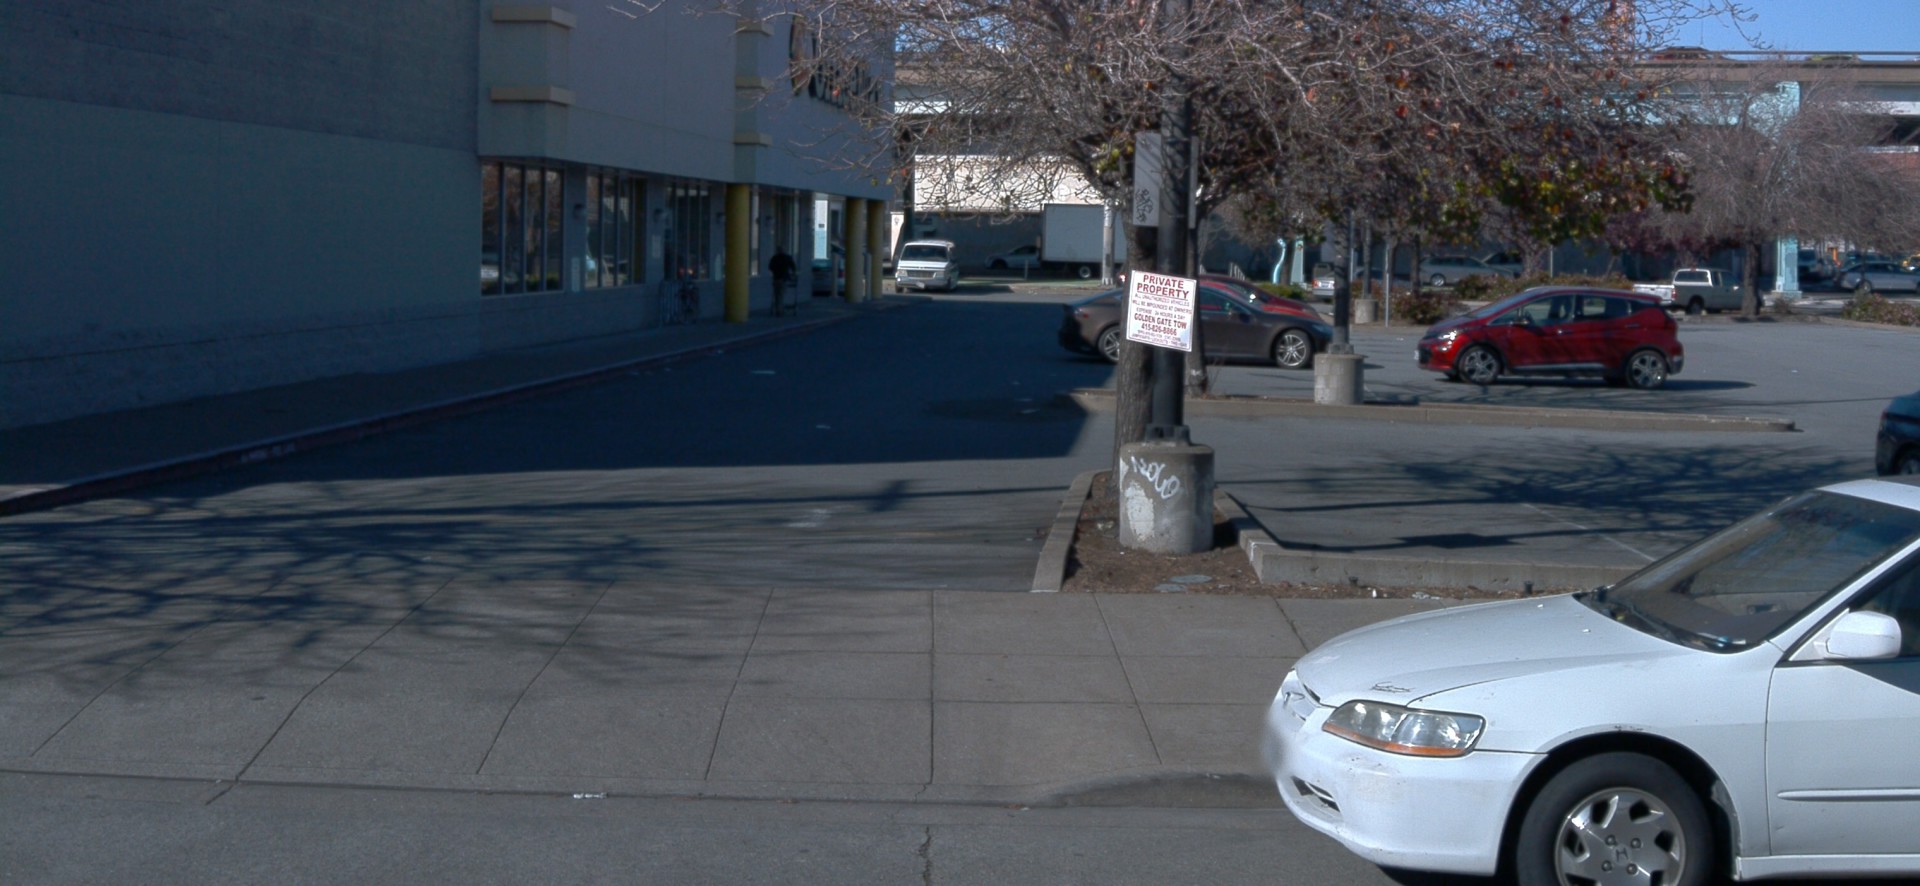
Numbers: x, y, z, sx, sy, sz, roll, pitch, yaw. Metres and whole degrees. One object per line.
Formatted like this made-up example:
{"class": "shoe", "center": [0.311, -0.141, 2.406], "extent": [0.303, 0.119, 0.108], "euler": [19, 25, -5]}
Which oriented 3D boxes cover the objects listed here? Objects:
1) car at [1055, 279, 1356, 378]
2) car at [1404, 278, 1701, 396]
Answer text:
{"class": "car", "center": [4.229, -2.021, 35.873], "extent": [5.044, 1.525, 1.995], "euler": [1, 4, 5]}
{"class": "car", "center": [9.355, -1.720, 32.748], "extent": [4.156, 1.695, 2.038], "euler": [1, 4, 2]}
